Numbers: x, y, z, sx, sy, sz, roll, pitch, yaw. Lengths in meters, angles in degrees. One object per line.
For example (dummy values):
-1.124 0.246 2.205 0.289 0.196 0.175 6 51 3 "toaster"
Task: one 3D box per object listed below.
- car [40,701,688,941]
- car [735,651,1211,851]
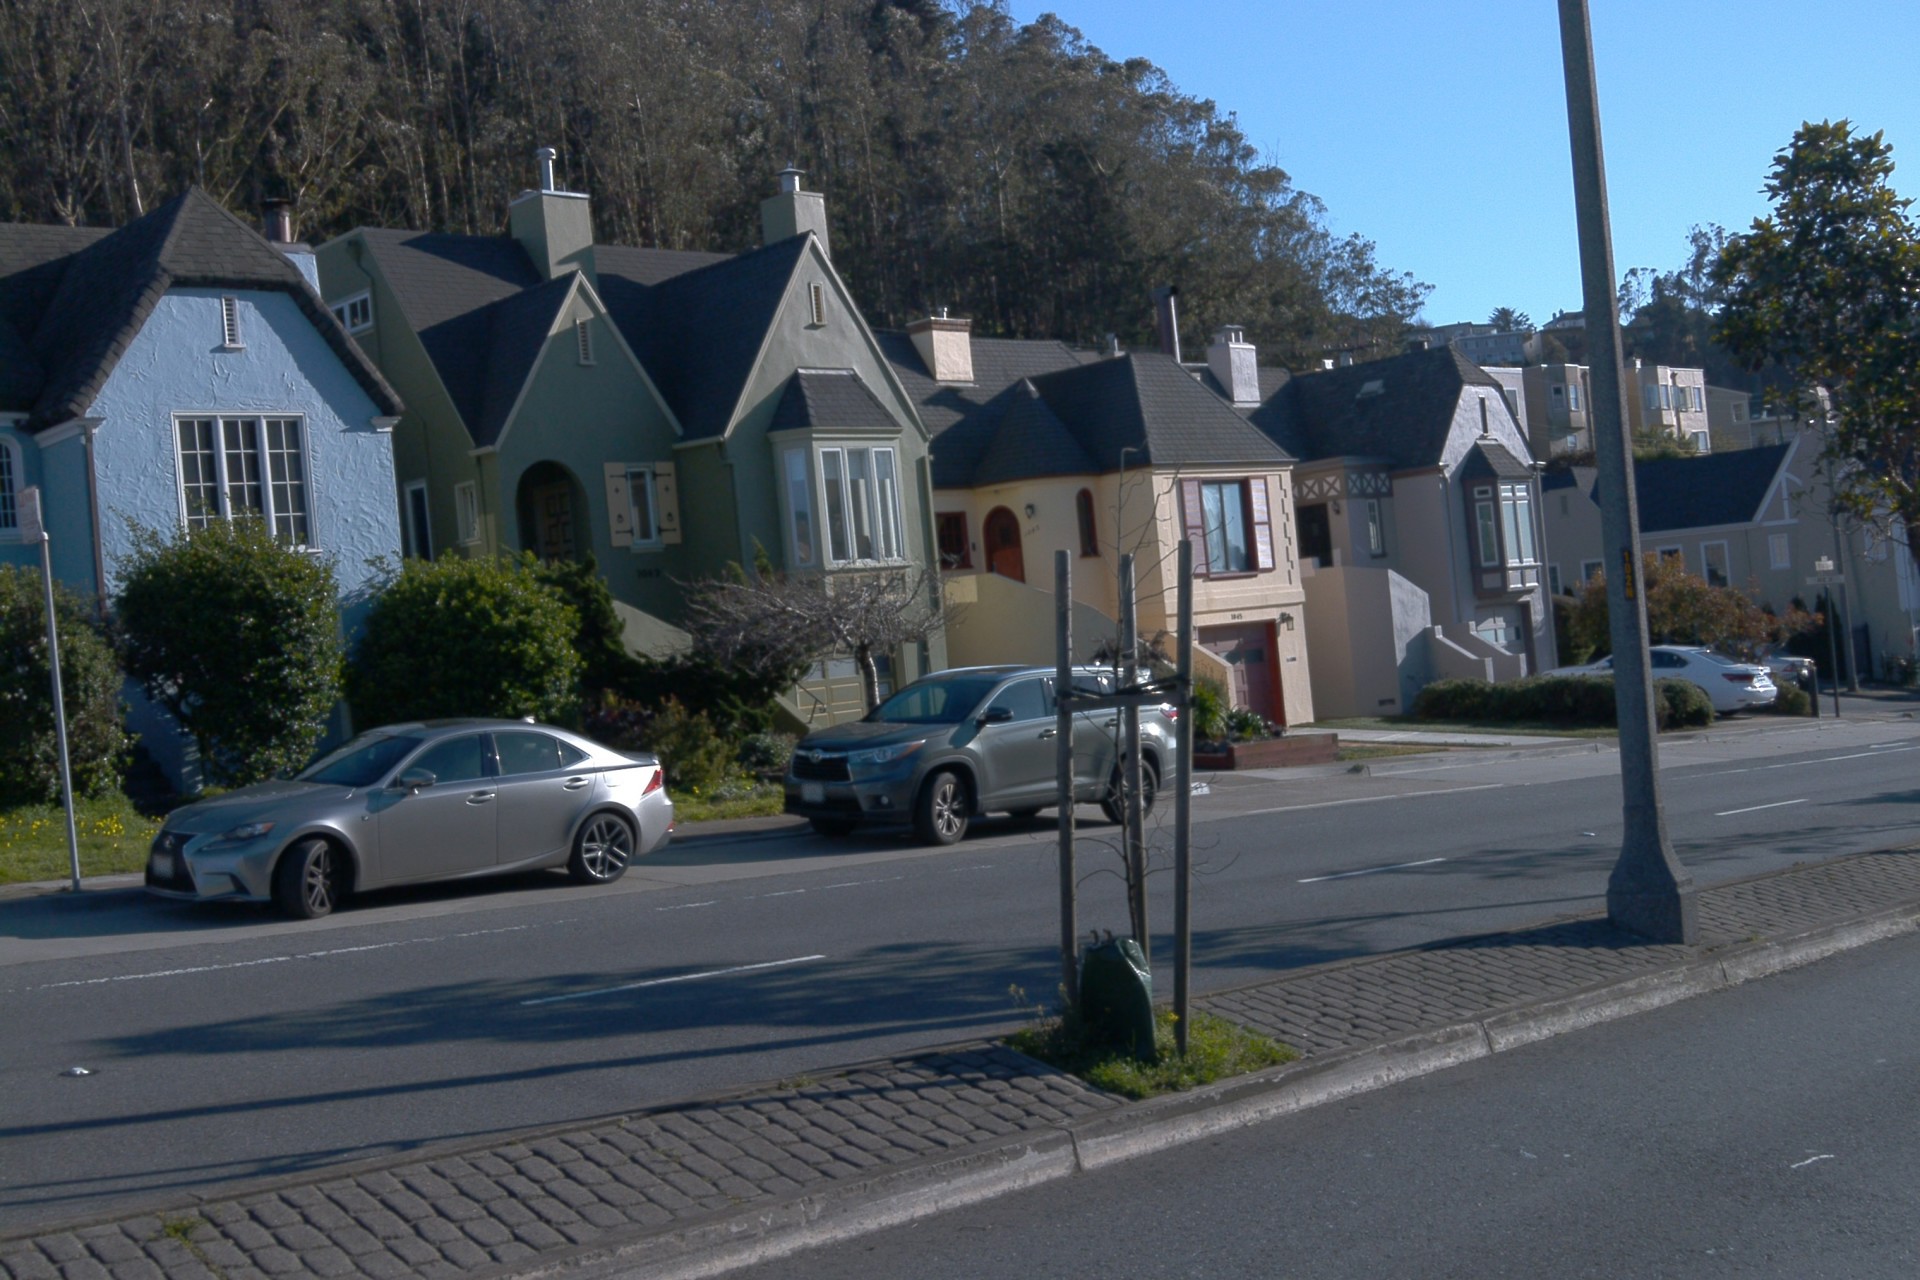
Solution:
-4.732 1.347 17.026 1.982 1.520 4.762 0 0 43 "car"
0.254 1.039 21.694 5.007 1.800 2.036 -1 0 -45 "car"
